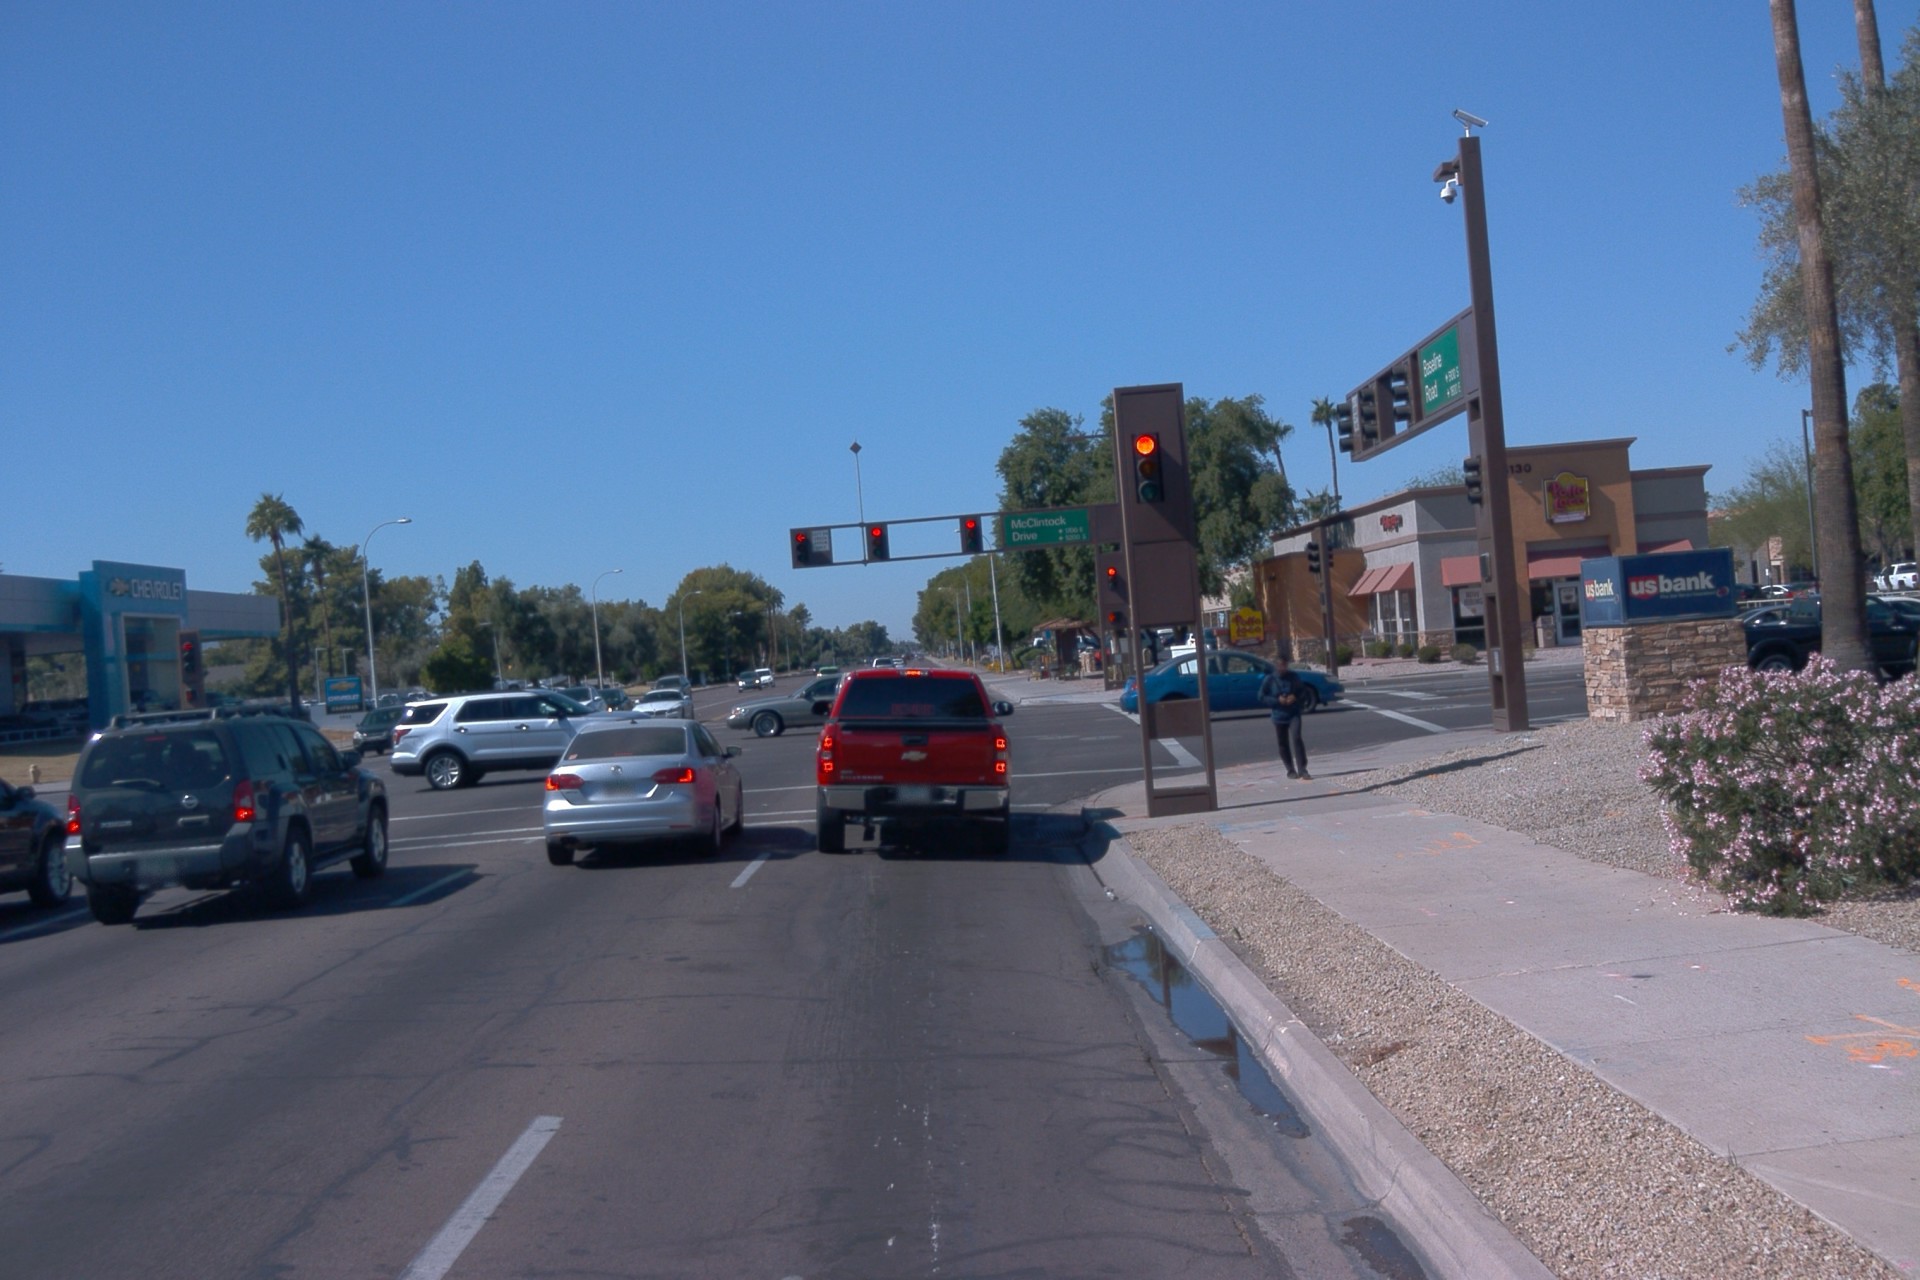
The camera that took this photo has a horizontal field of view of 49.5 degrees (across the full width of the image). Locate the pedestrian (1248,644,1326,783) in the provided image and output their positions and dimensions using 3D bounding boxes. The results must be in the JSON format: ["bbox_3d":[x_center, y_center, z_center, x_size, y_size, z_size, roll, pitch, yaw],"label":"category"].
[{"bbox_3d":[4.143,0.926,26.475,0.808,1.714,1.171,1,-1,1],"label":"pedestrian"}]

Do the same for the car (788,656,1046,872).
[{"bbox_3d":[-0.496,1.276,23.527,2.538,2.120,5.758,1,-1,-1],"label":"car"}]

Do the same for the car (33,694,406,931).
[{"bbox_3d":[-6.918,1.533,20.020,1.998,1.951,4.415,1,-1,0],"label":"car"}]

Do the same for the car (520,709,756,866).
[{"bbox_3d":[-3.383,1.526,22.683,1.920,1.450,4.335,1,-1,0],"label":"car"}]
